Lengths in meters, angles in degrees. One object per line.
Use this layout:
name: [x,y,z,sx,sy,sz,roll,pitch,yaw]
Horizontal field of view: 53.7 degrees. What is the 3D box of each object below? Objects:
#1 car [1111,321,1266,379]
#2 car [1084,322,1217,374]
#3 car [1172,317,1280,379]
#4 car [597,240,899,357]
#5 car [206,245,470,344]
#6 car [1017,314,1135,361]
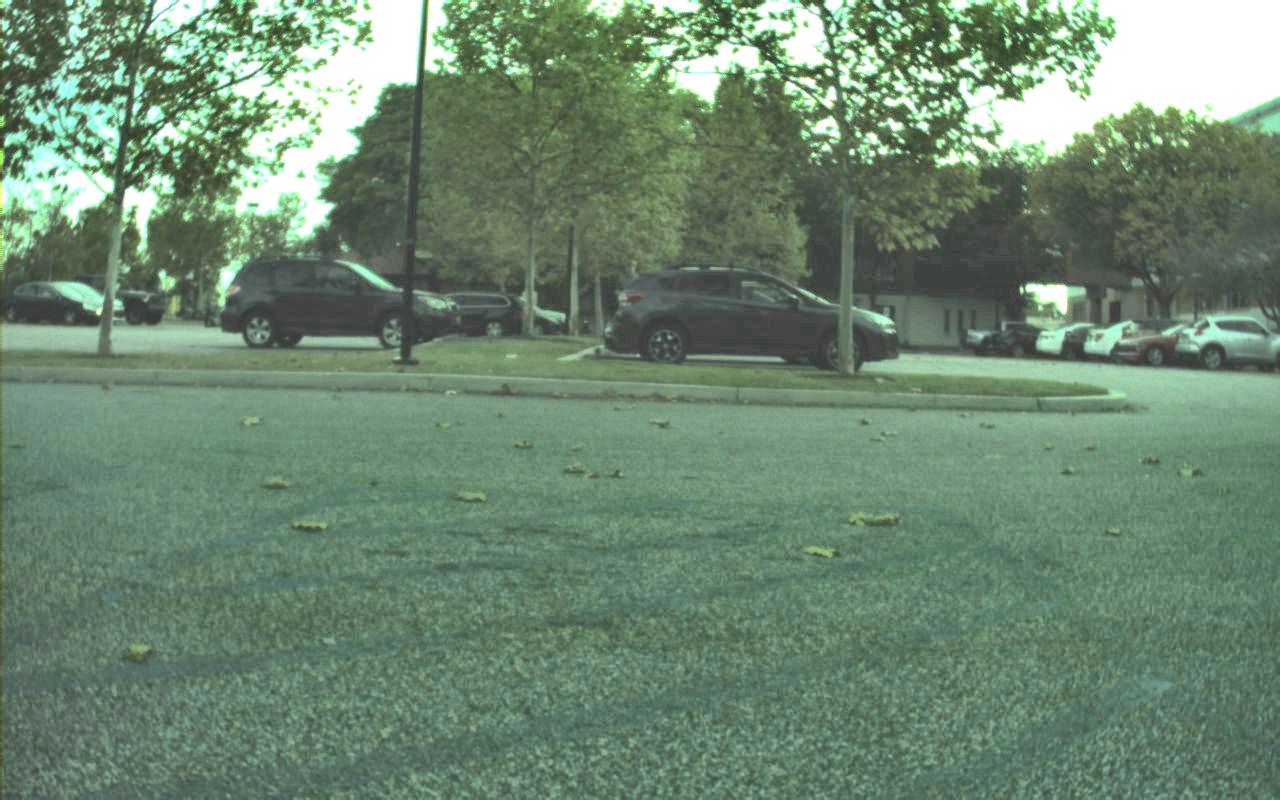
car: [16.492,-1.396,35.030,4.617,1.637,1.979,1,1,2]
car: [17.430,-1.683,40.270,4.455,1.687,1.956,1,1,6]
car: [17.120,-1.352,32.227,4.152,1.647,1.876,1,1,4]
car: [1.624,-1.535,19.658,4.535,1.693,1.956,0,1,-1]
car: [-5.594,-1.893,22.813,4.633,1.699,1.989,0,1,2]
car: [16.434,-2.277,45.455,4.540,1.692,2.005,1,1,19]
